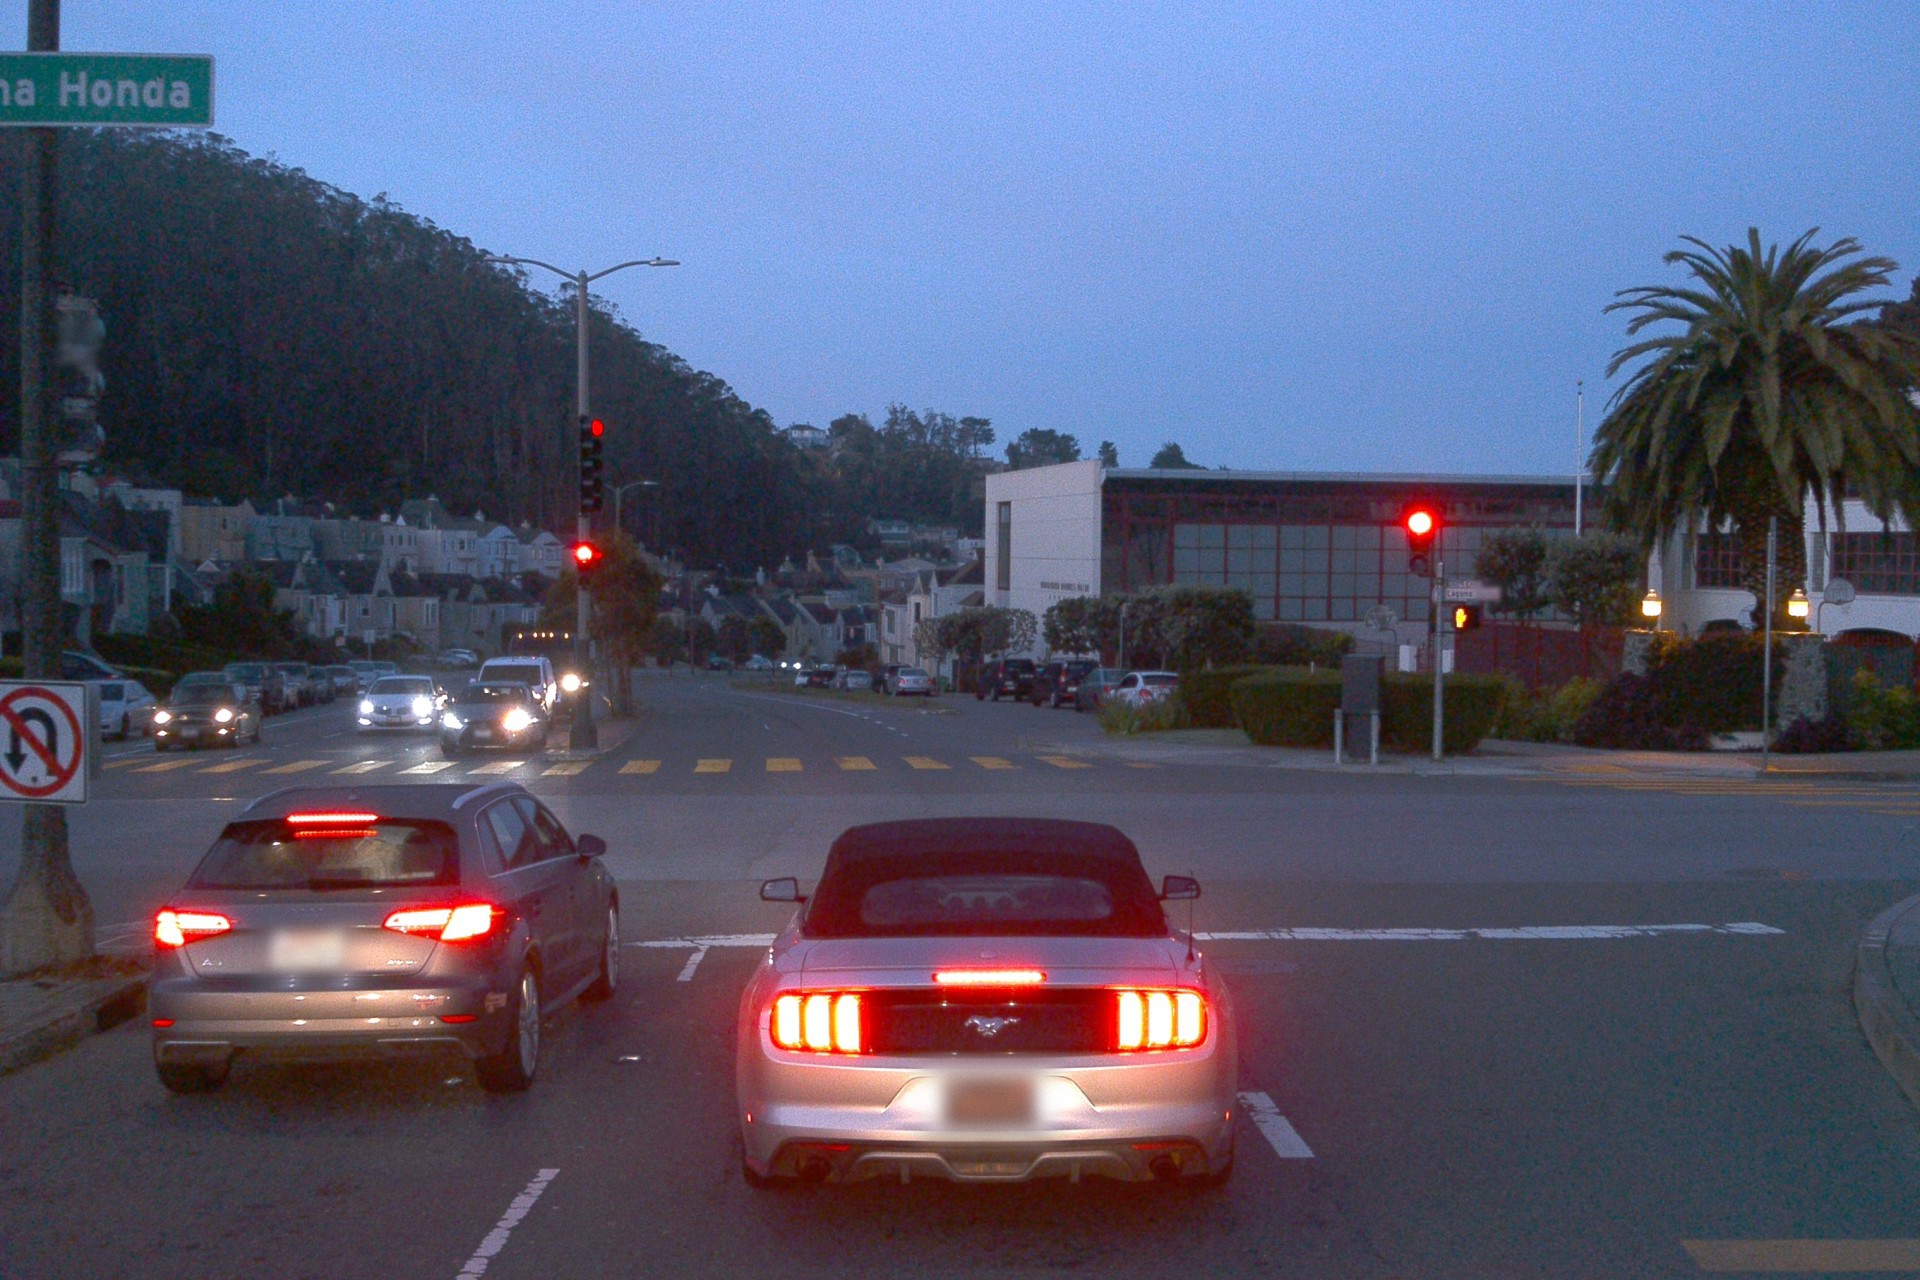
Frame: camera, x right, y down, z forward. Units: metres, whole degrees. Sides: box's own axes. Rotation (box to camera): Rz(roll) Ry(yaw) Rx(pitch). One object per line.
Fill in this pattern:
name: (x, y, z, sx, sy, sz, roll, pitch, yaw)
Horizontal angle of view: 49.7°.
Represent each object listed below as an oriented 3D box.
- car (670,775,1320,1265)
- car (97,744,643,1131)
car: (0.099, 1.413, 9.110, 2.174, 1.380, 4.355, 0, 0, 0)
car: (-2.886, 1.403, 11.058, 1.782, 1.510, 3.987, 0, 0, 0)
